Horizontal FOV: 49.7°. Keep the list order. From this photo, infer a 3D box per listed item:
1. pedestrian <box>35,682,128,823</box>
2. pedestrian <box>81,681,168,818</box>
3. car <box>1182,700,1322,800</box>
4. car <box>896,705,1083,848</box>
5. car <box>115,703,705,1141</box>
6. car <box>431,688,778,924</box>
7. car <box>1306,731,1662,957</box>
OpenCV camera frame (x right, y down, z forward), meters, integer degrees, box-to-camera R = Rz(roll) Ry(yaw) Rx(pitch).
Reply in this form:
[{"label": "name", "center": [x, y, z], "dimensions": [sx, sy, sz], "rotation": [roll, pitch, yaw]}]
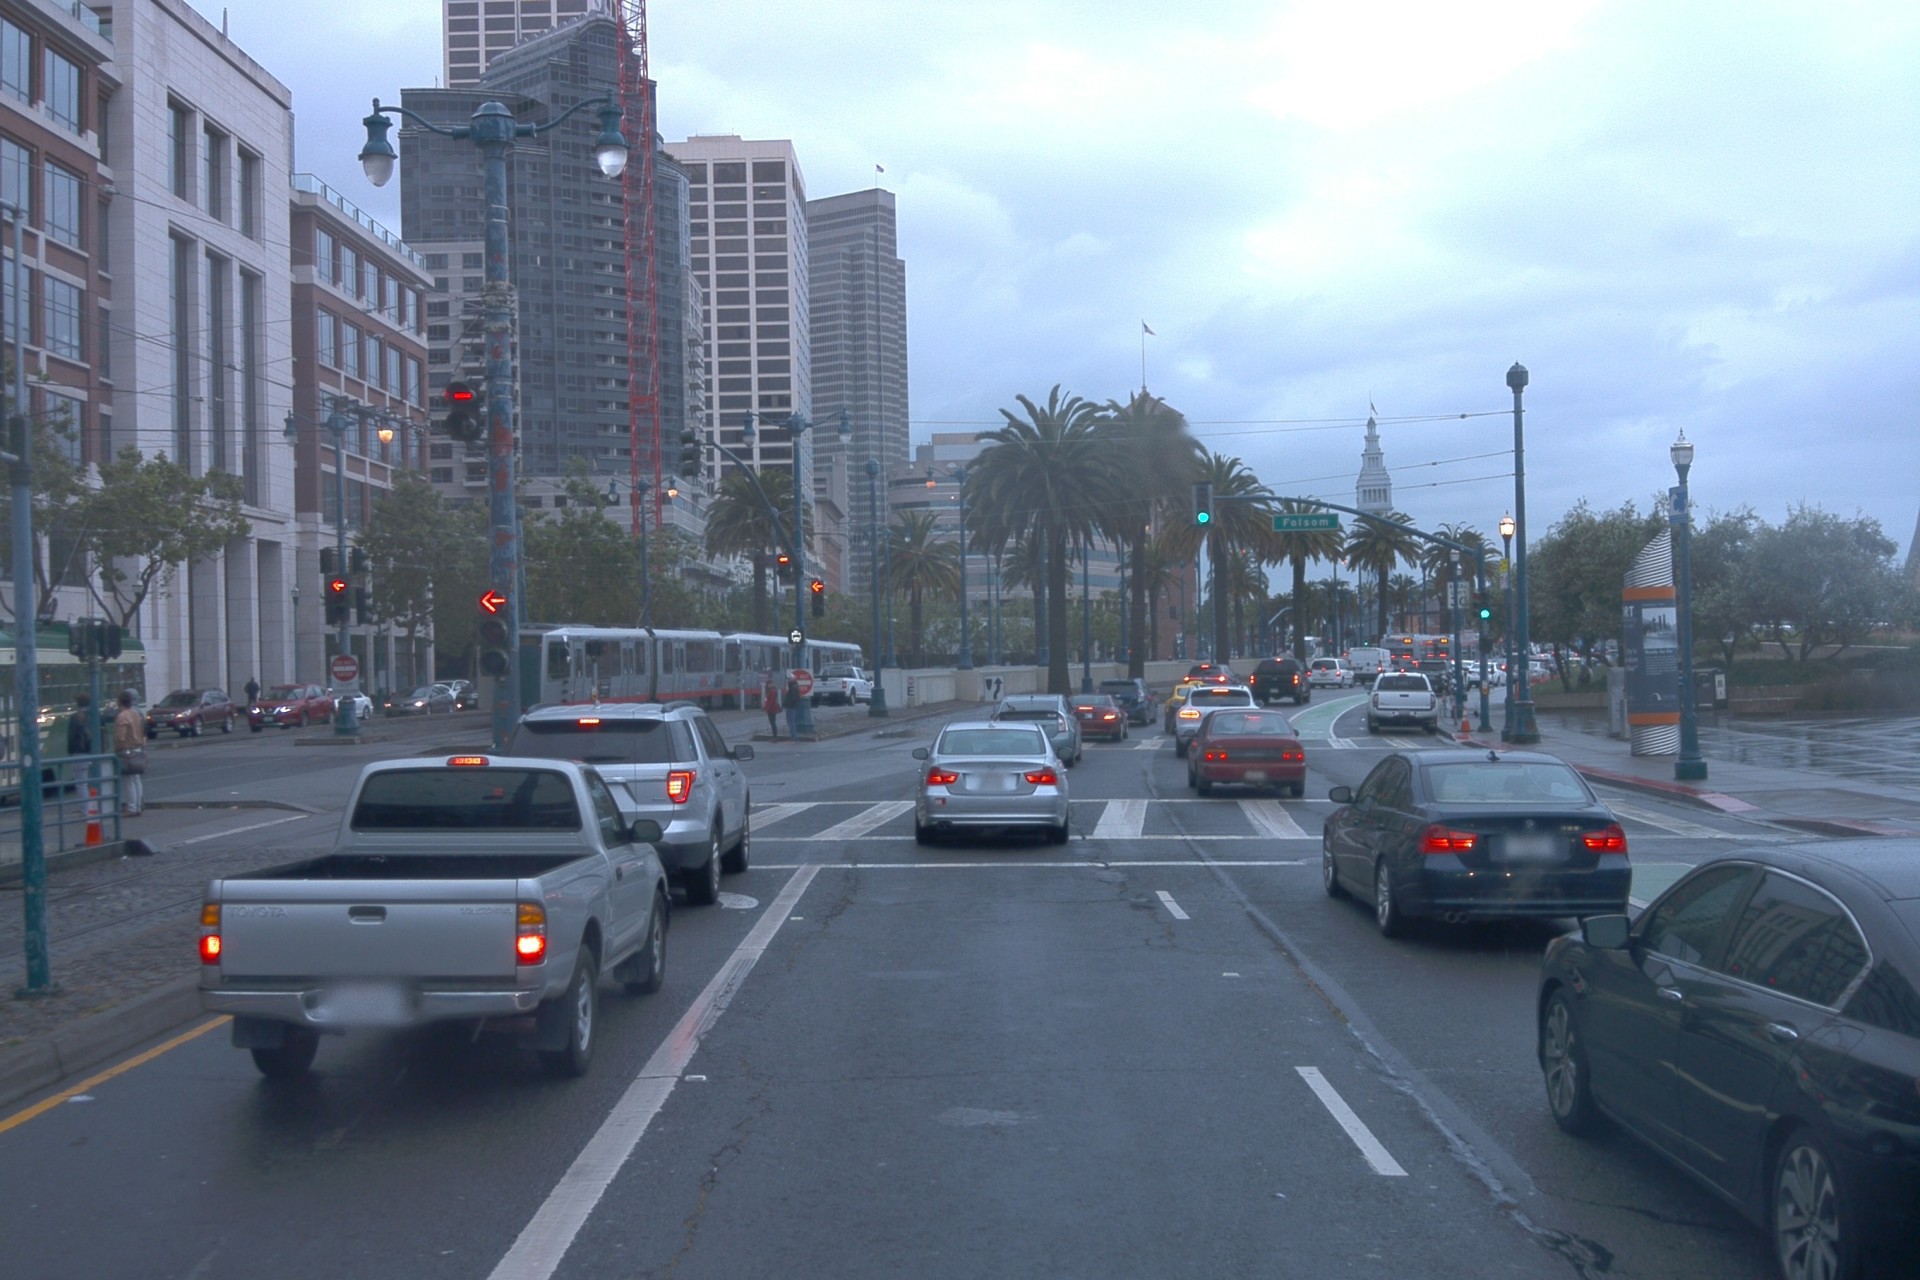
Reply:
[{"label": "pedestrian", "center": [-12.210, 1.541, 28.833], "dimensions": [0.882, 1.920, 0.821], "rotation": [-1, -1, 31]}, {"label": "pedestrian", "center": [-11.842, 1.539, 29.422], "dimensions": [0.862, 1.920, 0.866], "rotation": [0, -1, 2]}, {"label": "car", "center": [4.623, 1.718, 33.302], "dimensions": [1.923, 1.450, 3.944], "rotation": [0, -1, 4]}, {"label": "car", "center": [0.404, 1.588, 25.338], "dimensions": [2.067, 1.510, 4.626], "rotation": [0, -1, 2]}, {"label": "car", "center": [-2.734, 1.322, 11.589], "dimensions": [2.053, 1.860, 4.771], "rotation": [0, -1, 0]}, {"label": "car", "center": [-3.112, 1.405, 19.383], "dimensions": [2.401, 1.870, 5.027], "rotation": [0, -1, 0]}, {"label": "car", "center": [4.042, 1.529, 16.740], "dimensions": [1.869, 1.450, 4.344], "rotation": [0, -1, 1]}]
